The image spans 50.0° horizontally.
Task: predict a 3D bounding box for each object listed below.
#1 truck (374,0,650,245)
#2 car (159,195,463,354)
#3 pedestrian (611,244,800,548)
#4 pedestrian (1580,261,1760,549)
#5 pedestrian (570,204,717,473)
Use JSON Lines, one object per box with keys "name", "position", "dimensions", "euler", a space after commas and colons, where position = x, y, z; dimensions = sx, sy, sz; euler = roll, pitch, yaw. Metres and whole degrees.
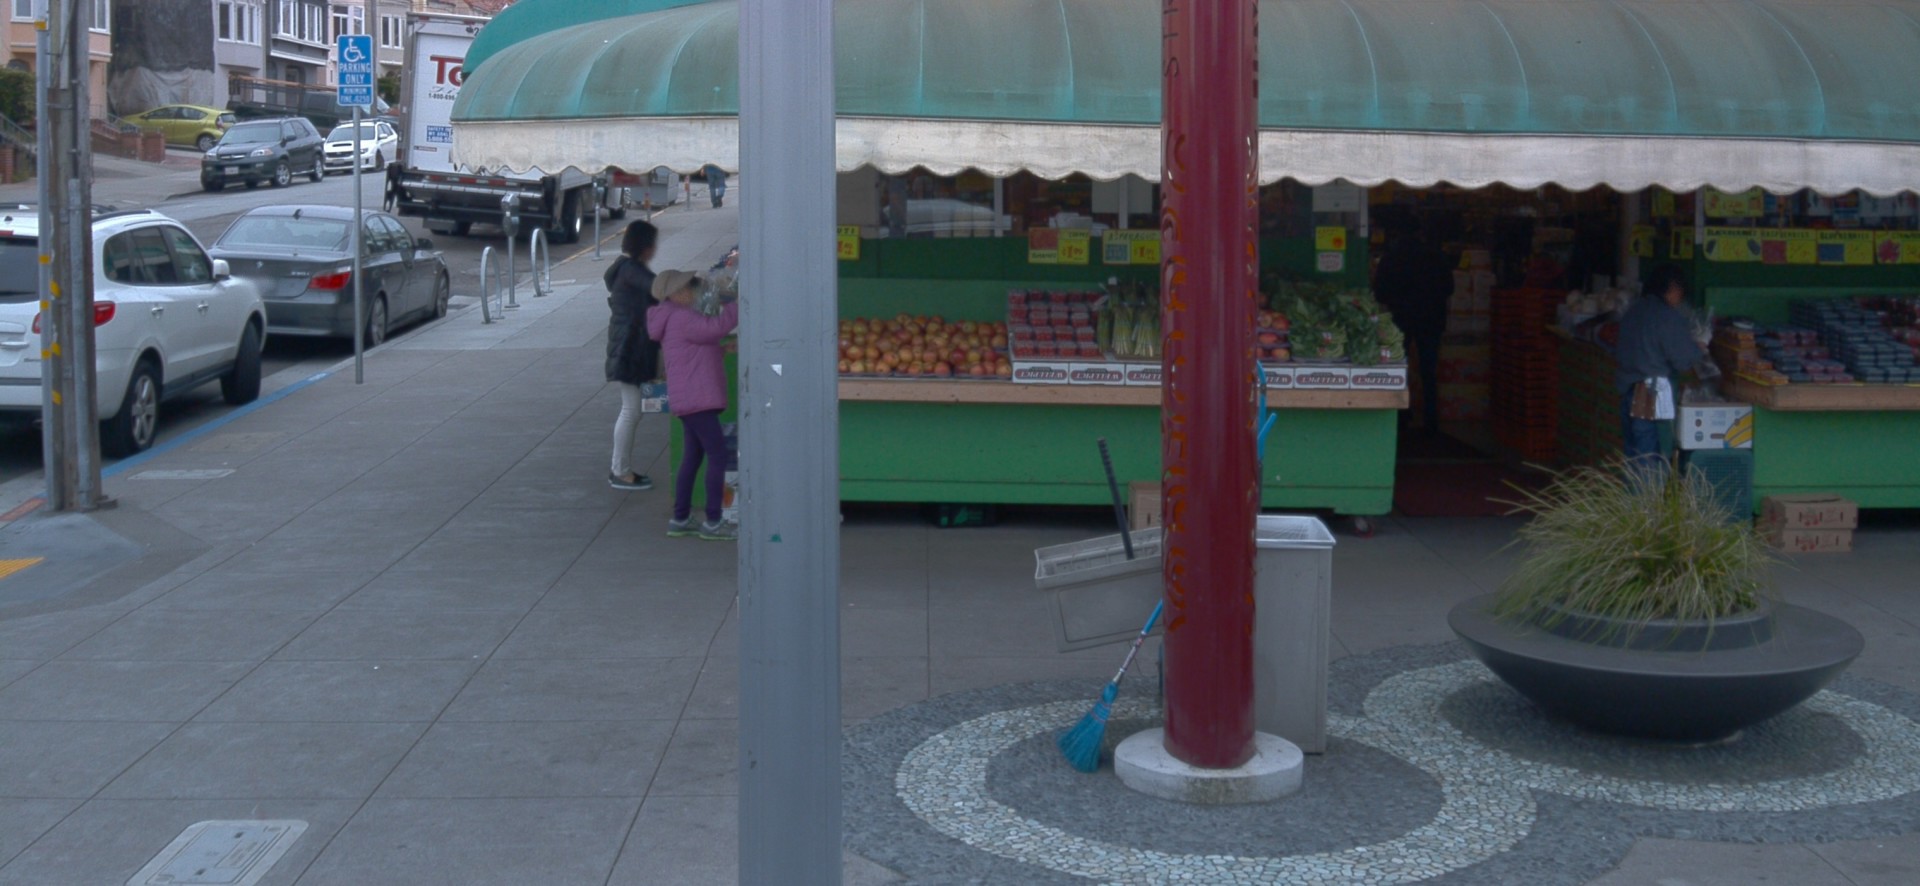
{"name": "truck", "position": [-7.682, -5.485, 36.855], "dimensions": [2.914, 3.770, 10.115], "euler": [0, 5, -1]}
{"name": "car", "position": [-6.742, -1.850, 21.922], "dimensions": [1.969, 1.513, 4.609], "euler": [0, 6, -3]}
{"name": "pedestrian", "position": [-1.383, -0.293, 11.166], "dimensions": [0.797, 1.564, 0.705], "euler": [-1, 2, -31]}
{"name": "pedestrian", "position": [3.989, -0.238, 11.605], "dimensions": [0.743, 1.557, 0.755], "euler": [0, 2, 0]}
{"name": "pedestrian", "position": [-1.976, -0.676, 12.790], "dimensions": [0.796, 1.607, 0.823], "euler": [-1, 2, -17]}
